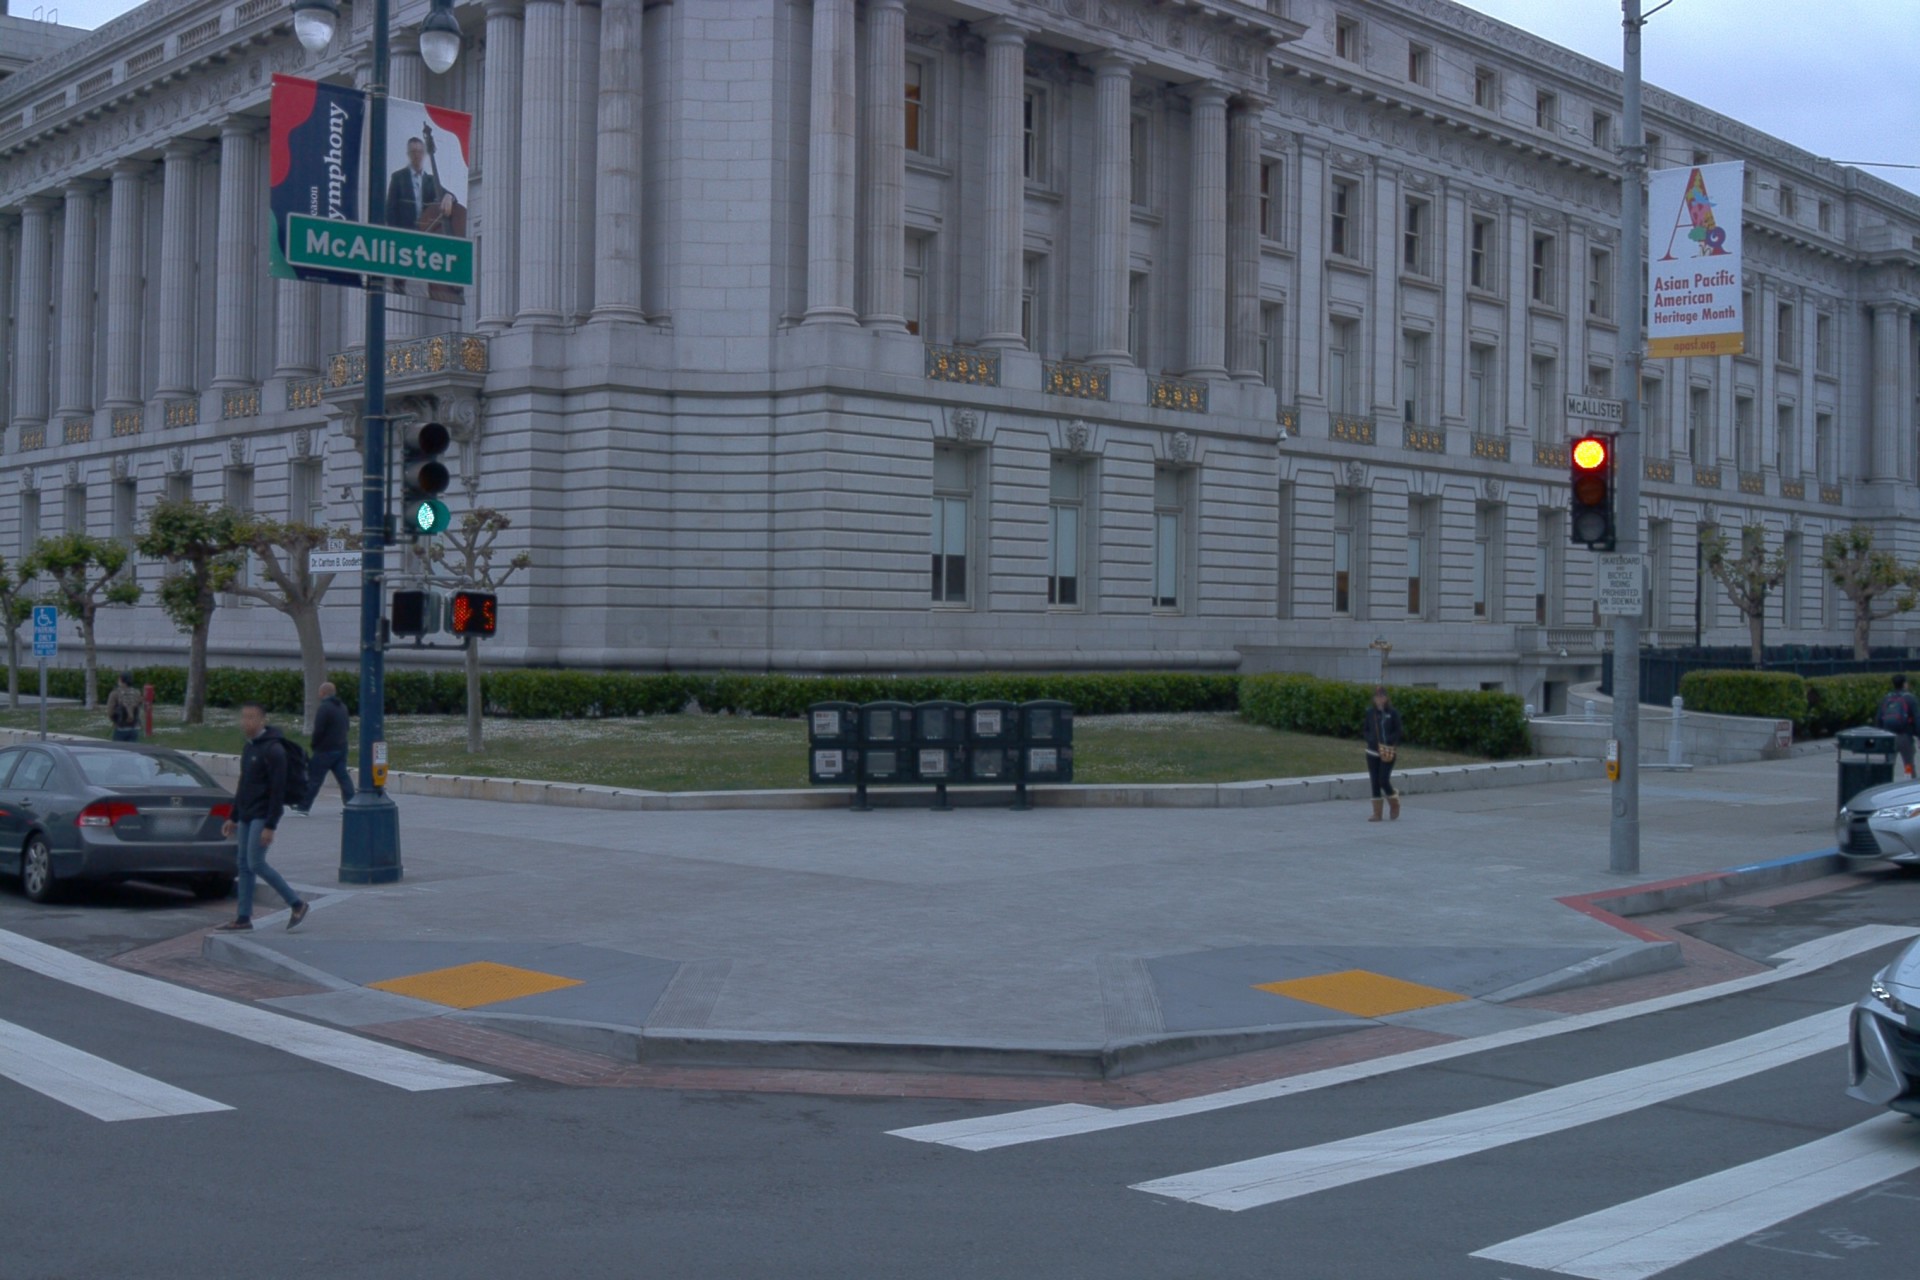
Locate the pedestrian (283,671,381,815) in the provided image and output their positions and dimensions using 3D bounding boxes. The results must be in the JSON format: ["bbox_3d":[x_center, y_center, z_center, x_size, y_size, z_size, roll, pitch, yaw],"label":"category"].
[{"bbox_3d":[-7.925,1.286,26.090,0.919,1.757,0.758,0,1,13],"label":"pedestrian"}]

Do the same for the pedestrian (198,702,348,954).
[{"bbox_3d":[-5.038,1.355,15.199,0.932,1.760,0.833,0,1,-10],"label":"pedestrian"}]

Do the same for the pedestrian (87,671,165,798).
[{"bbox_3d":[-12.347,1.385,30.577,1.004,1.815,0.736,1,1,45],"label":"pedestrian"}]

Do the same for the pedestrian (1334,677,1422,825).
[{"bbox_3d":[4.949,1.297,24.464,0.673,1.681,0.864,1,1,42],"label":"pedestrian"}]
